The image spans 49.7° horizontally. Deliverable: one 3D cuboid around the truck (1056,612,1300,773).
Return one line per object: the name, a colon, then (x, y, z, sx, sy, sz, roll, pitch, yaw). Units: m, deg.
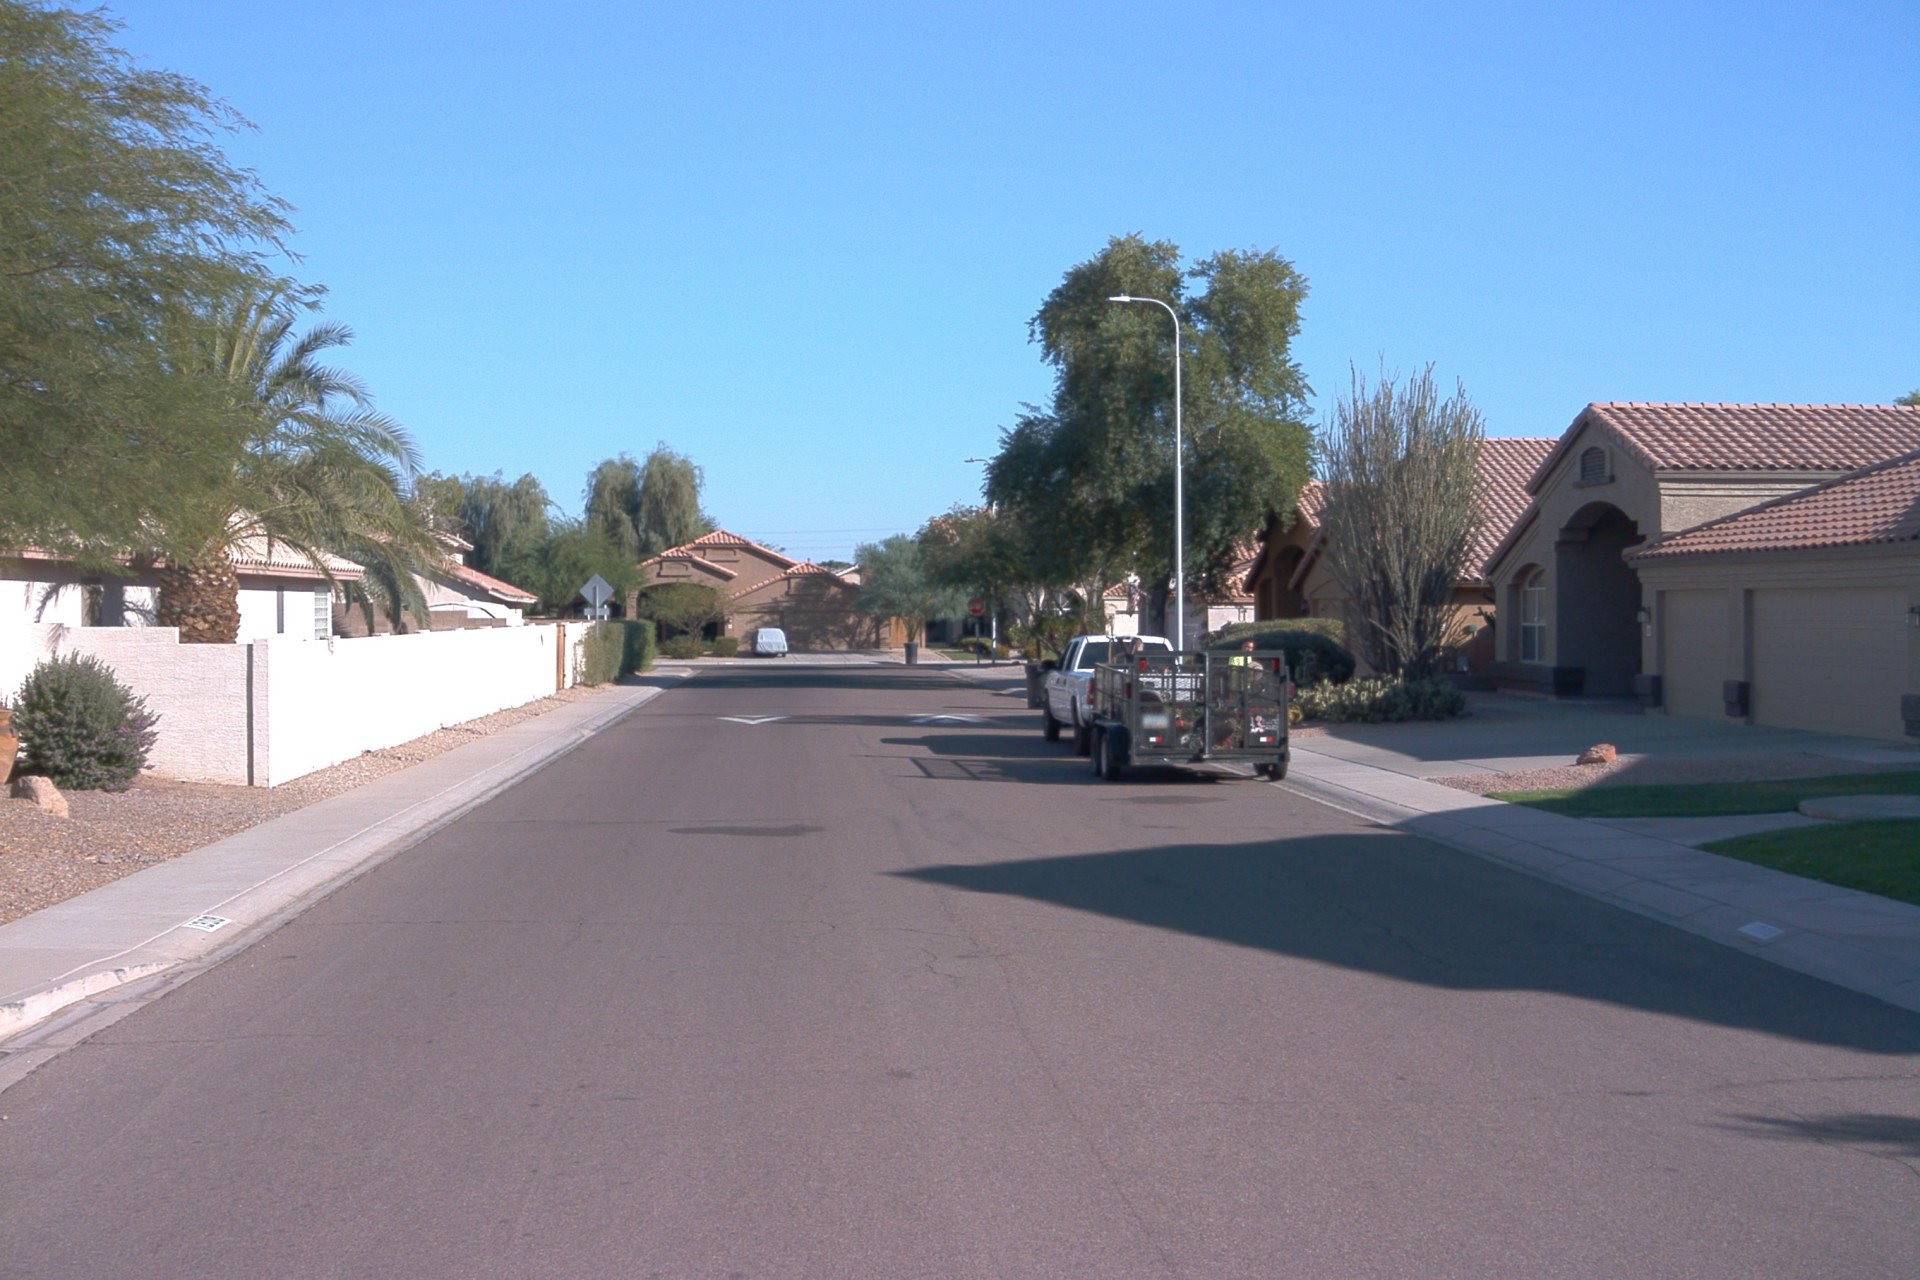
truck: (2.839, 0.659, 28.052, 2.553, 2.010, 4.065, 0, 0, -5)

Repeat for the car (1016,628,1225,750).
car: (2.478, 0.729, 33.852, 2.356, 1.810, 5.958, 0, 0, -6)
